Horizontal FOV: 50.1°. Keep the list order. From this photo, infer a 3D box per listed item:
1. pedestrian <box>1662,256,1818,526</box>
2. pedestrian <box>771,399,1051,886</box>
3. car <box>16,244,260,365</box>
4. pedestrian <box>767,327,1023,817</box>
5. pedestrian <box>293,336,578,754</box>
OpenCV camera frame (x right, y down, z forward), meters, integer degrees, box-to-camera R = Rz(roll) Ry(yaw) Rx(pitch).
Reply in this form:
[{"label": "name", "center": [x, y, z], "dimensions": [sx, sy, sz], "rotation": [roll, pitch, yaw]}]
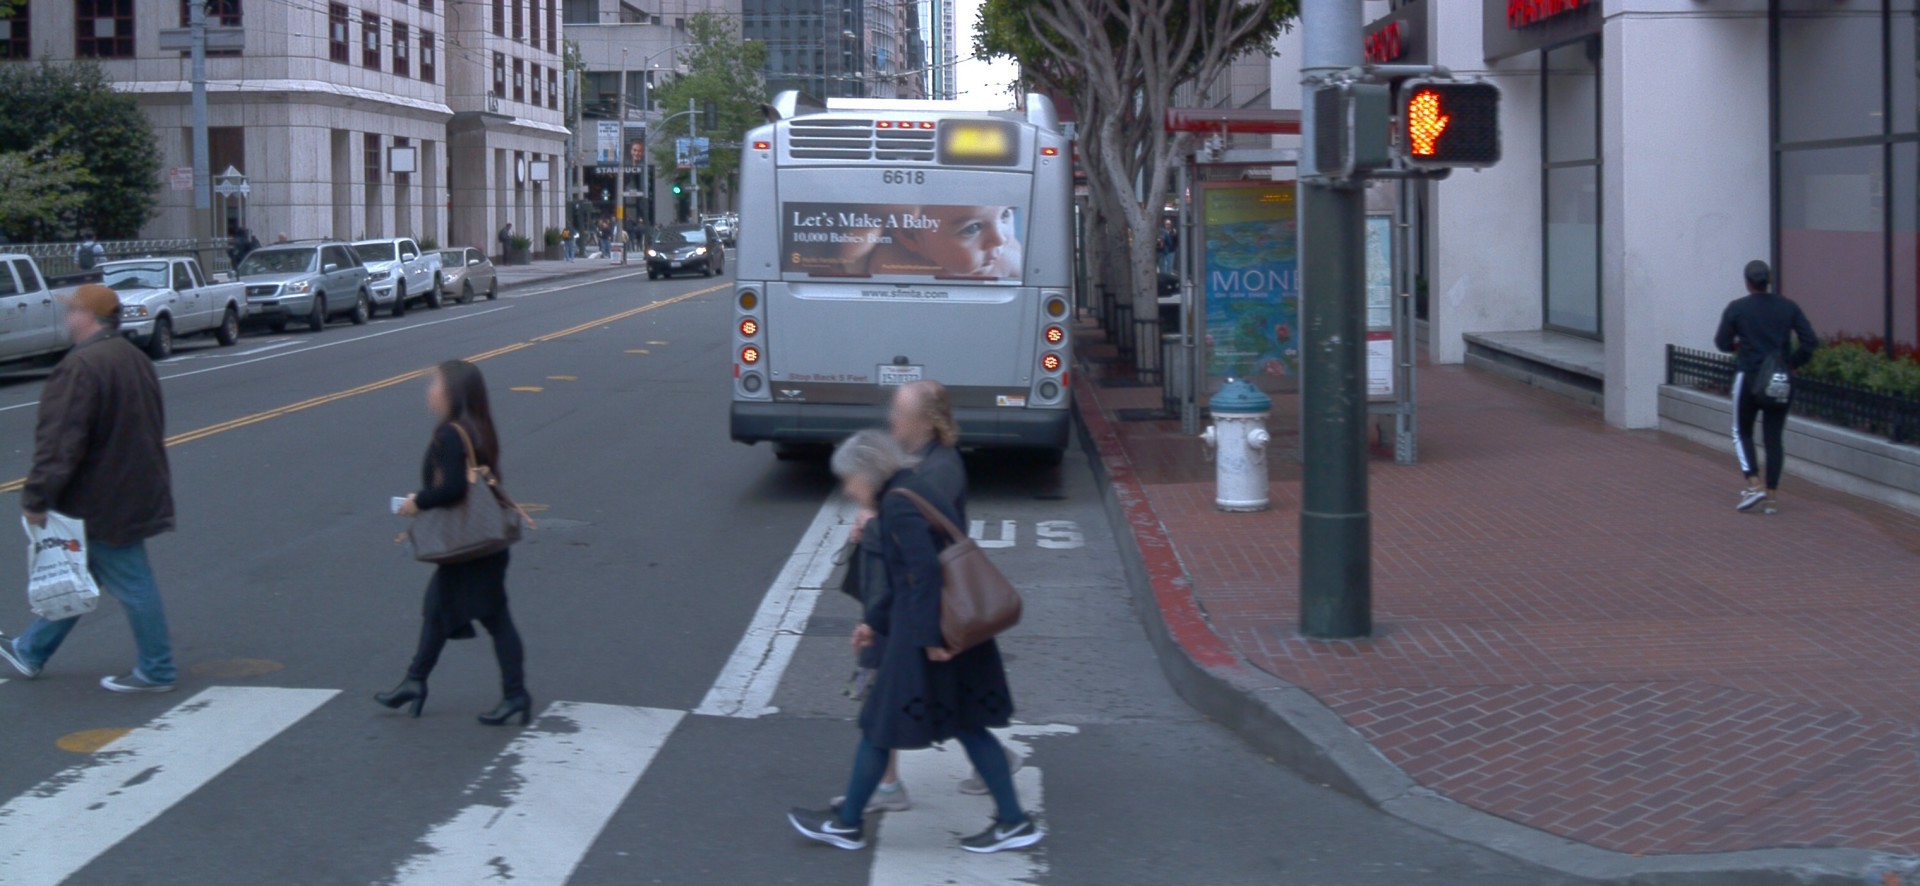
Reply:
[{"label": "pedestrian", "center": [4.954, -0.359, 13.091], "dimensions": [0.695, 1.655, 0.867], "rotation": [0, 1, 3]}, {"label": "pedestrian", "center": [-0.148, 0.662, 6.942], "dimensions": [0.893, 1.555, 0.782], "rotation": [0, 1, 1]}, {"label": "car", "center": [-13.640, -2.397, 34.485], "dimensions": [2.064, 1.843, 5.284], "rotation": [0, 5, -1]}, {"label": "pedestrian", "center": [-0.239, 0.441, 7.726], "dimensions": [0.915, 1.715, 0.743], "rotation": [0, 1, -1]}, {"label": "pedestrian", "center": [-2.153, 0.381, 8.555], "dimensions": [0.966, 1.605, 0.876], "rotation": [0, 1, -1]}]
